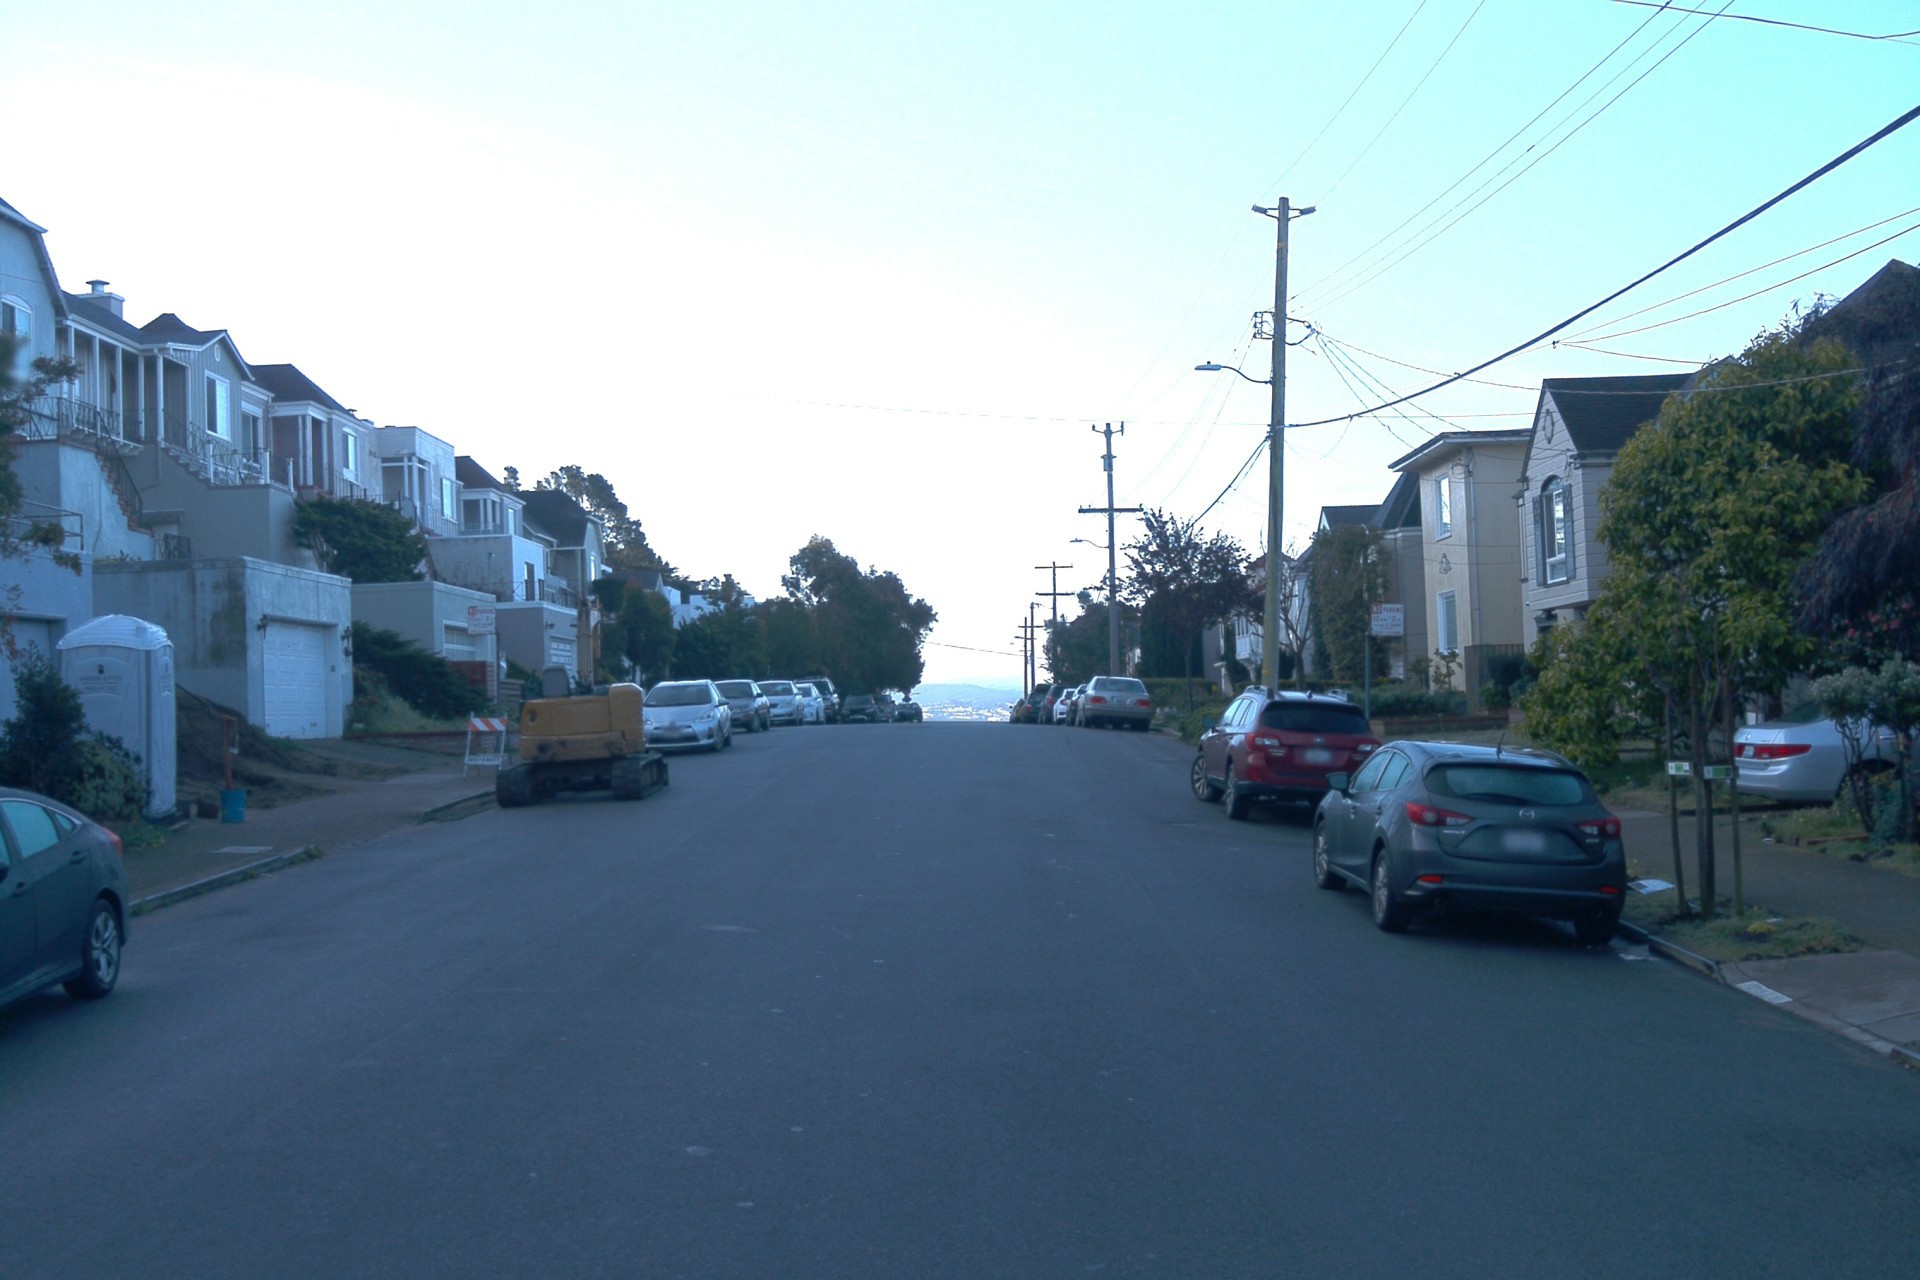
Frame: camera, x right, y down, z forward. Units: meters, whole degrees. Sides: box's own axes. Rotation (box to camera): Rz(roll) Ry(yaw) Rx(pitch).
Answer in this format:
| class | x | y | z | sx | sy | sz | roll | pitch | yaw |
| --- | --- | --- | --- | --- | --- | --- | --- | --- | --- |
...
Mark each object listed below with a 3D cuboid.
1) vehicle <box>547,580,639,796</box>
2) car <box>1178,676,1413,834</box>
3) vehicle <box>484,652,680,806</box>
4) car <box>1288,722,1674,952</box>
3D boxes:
| class | x | y | z | sx | sy | sz | roll | pitch | yaw |
| --- | --- | --- | --- | --- | --- | --- | --- | --- | --- |
| vehicle | -5.596 | 0.707 | 31.599 | 1.142 | 3.170 | 2.650 | 0 | 0 | -5 |
| car | 4.269 | 1.410 | 27.053 | 2.205 | 1.800 | 4.940 | 0 | 0 | -1 |
| vehicle | -5.330 | 1.213 | 29.481 | 2.170 | 2.050 | 3.318 | 0 | 0 | 0 |
| car | 4.128 | 1.513 | 17.178 | 2.104 | 1.480 | 4.618 | 0 | 0 | 1 |
